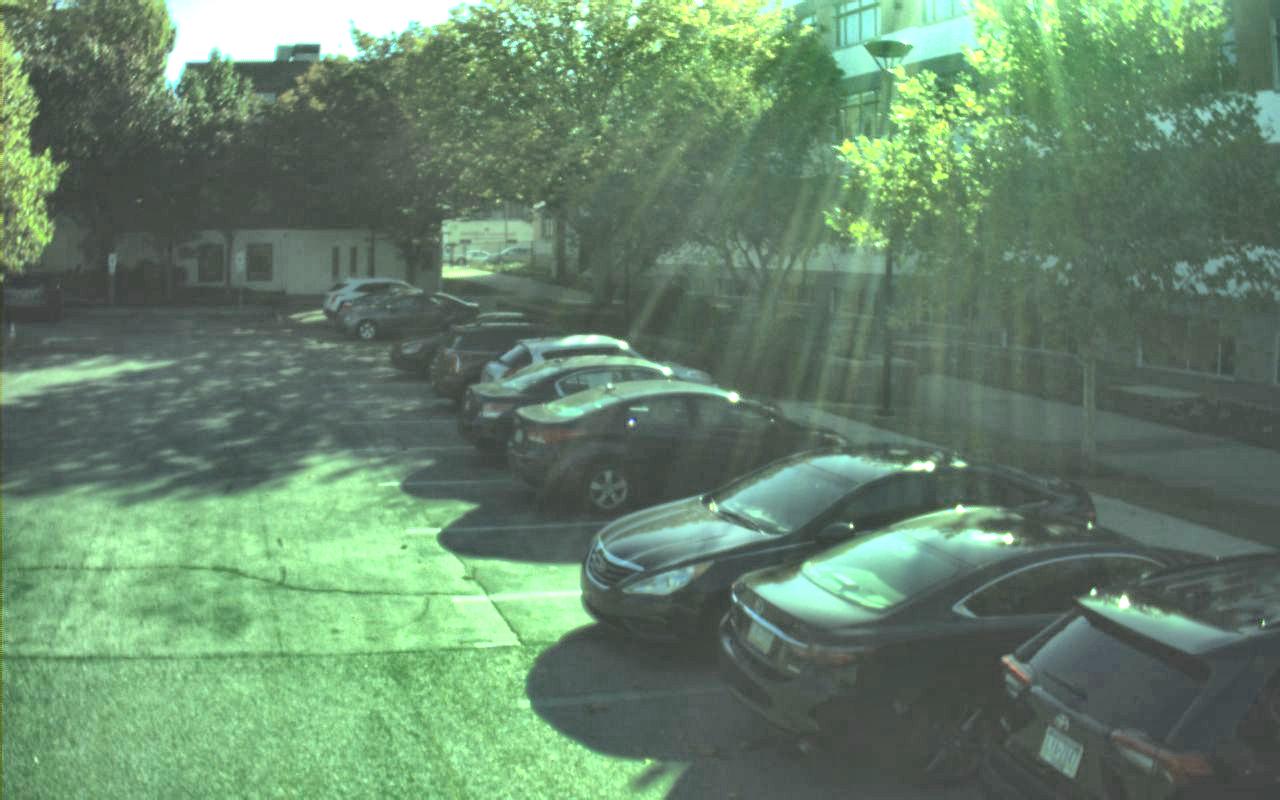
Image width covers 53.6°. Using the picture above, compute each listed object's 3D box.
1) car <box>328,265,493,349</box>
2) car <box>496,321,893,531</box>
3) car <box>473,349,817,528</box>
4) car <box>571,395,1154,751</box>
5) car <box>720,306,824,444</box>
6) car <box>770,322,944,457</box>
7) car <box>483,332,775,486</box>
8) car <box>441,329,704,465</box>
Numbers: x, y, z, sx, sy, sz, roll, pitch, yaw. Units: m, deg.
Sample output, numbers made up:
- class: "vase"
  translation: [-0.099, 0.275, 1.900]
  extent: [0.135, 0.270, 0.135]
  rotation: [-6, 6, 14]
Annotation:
- class: "car"
  translation: [-6.976, -2.827, 37.556]
  extent: [4.724, 1.707, 1.988]
  rotation: [-7, 17, -18]
- class: "car"
  translation: [0.661, 0.216, 15.544]
  extent: [4.489, 1.588, 1.950]
  rotation: [-6, 17, -17]
- class: "car"
  translation: [0.040, 0.462, 17.871]
  extent: [4.498, 1.572, 1.959]
  rotation: [-6, 17, -15]
- class: "car"
  translation: [1.936, 1.279, 10.406]
  extent: [4.584, 1.616, 1.983]
  rotation: [-7, 17, -20]
- class: "car"
  translation: [2.715, -0.639, 26.911]
  extent: [2.021, 1.773, 4.548]
  rotation: [0, 17, 3]
- class: "car"
  translation: [4.671, -0.344, 27.613]
  extent: [2.006, 1.611, 4.660]
  rotation: [-6, 17, -16]
- class: "car"
  translation: [-0.193, 0.082, 20.619]
  extent: [4.387, 1.595, 1.932]
  rotation: [-6, 17, -16]
- class: "car"
  translation: [-1.263, -0.114, 23.054]
  extent: [4.459, 1.610, 1.959]
  rotation: [-6, 17, -15]
